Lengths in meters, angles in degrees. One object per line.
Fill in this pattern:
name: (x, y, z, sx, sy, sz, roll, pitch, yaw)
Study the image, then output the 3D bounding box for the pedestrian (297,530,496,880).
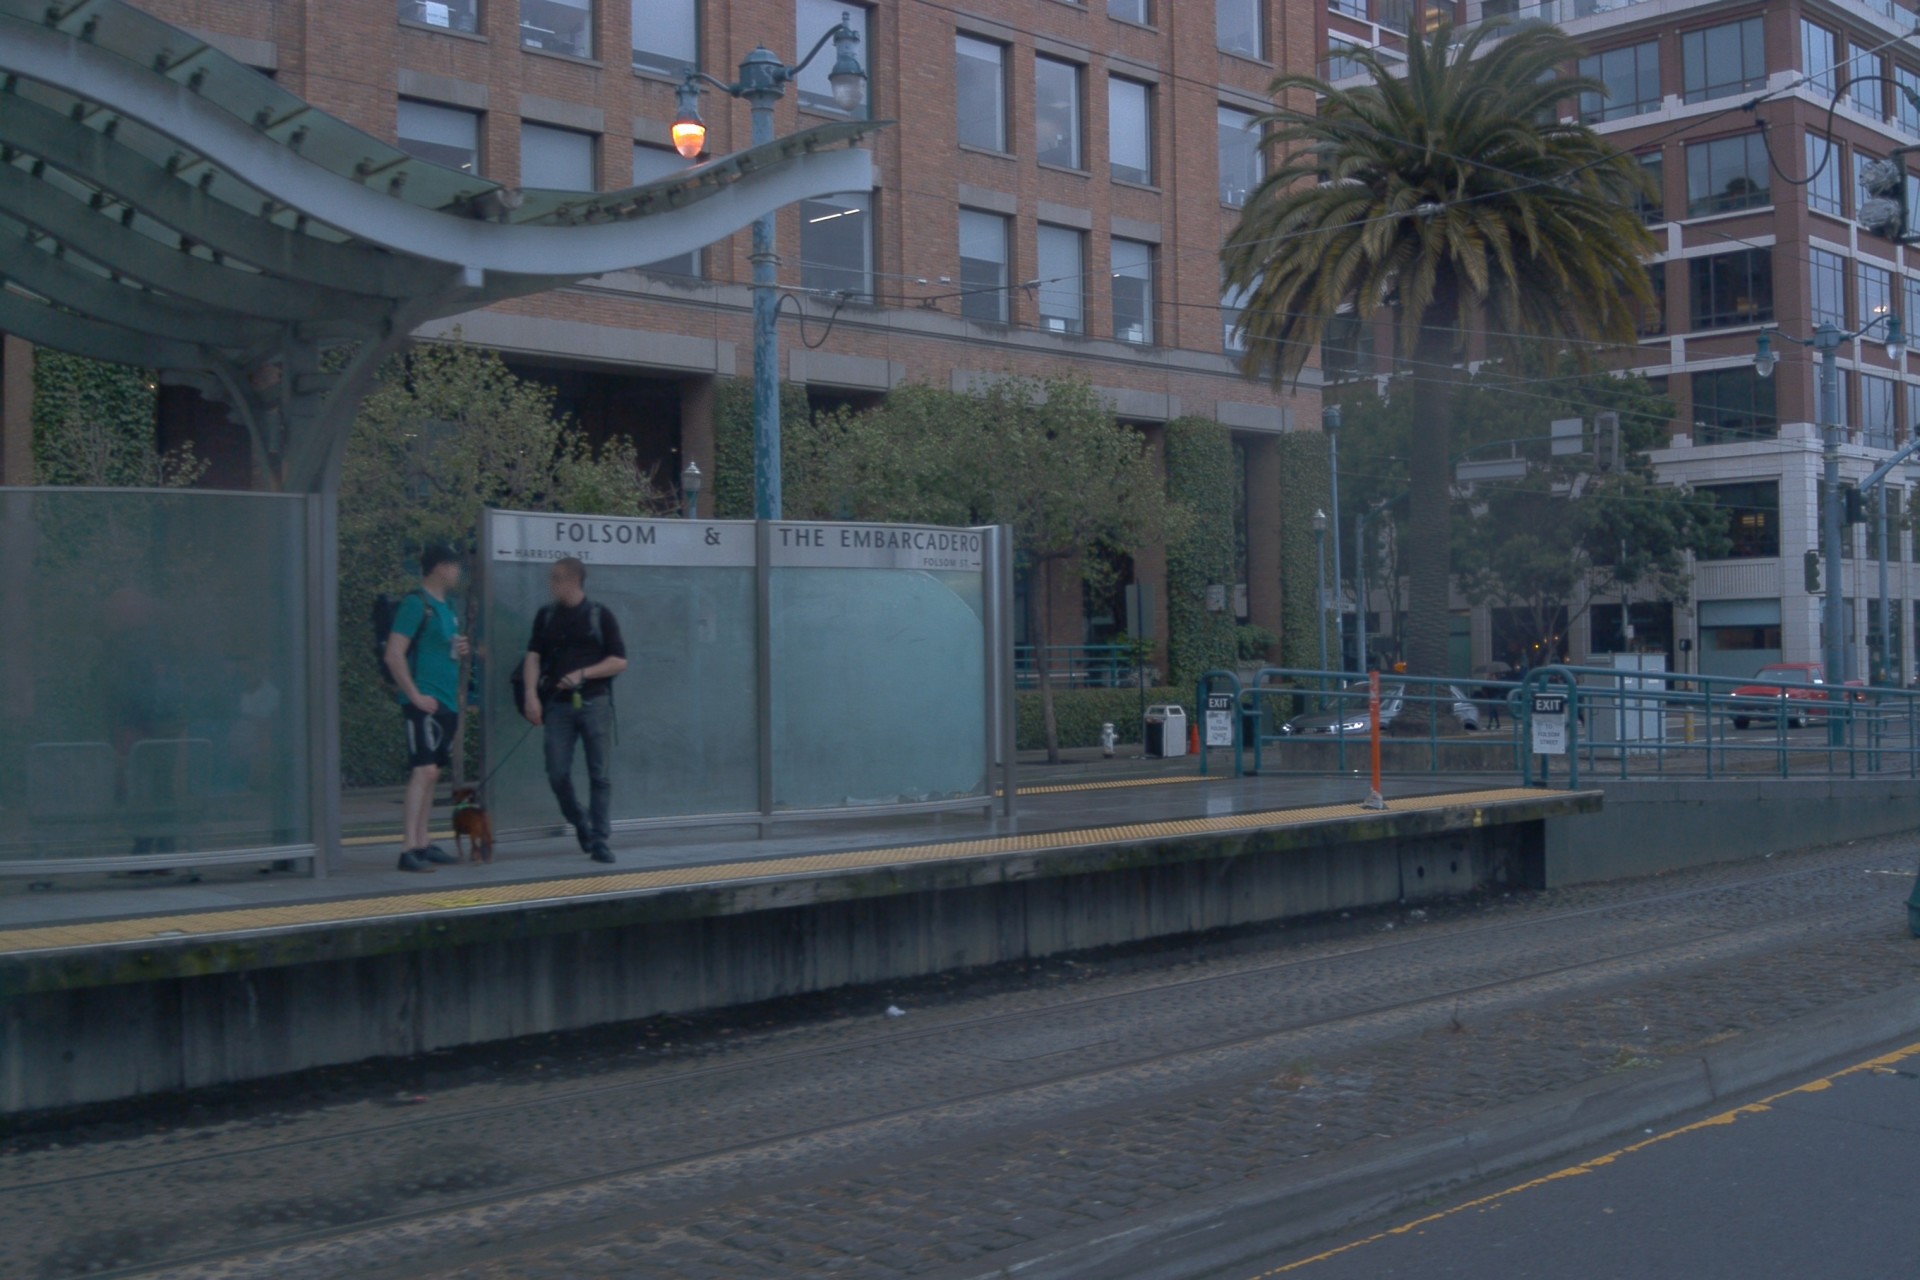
pedestrian: (-3.263, 0.363, 12.109, 0.832, 1.960, 0.895, 0, 0, 6)

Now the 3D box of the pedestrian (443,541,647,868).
pedestrian: (-2.491, 0.374, 12.554, 0.886, 1.890, 0.903, 0, 0, 15)

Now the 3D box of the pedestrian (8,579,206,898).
pedestrian: (-4.701, 0.515, 11.447, 0.903, 1.670, 0.824, 0, 0, -30)
